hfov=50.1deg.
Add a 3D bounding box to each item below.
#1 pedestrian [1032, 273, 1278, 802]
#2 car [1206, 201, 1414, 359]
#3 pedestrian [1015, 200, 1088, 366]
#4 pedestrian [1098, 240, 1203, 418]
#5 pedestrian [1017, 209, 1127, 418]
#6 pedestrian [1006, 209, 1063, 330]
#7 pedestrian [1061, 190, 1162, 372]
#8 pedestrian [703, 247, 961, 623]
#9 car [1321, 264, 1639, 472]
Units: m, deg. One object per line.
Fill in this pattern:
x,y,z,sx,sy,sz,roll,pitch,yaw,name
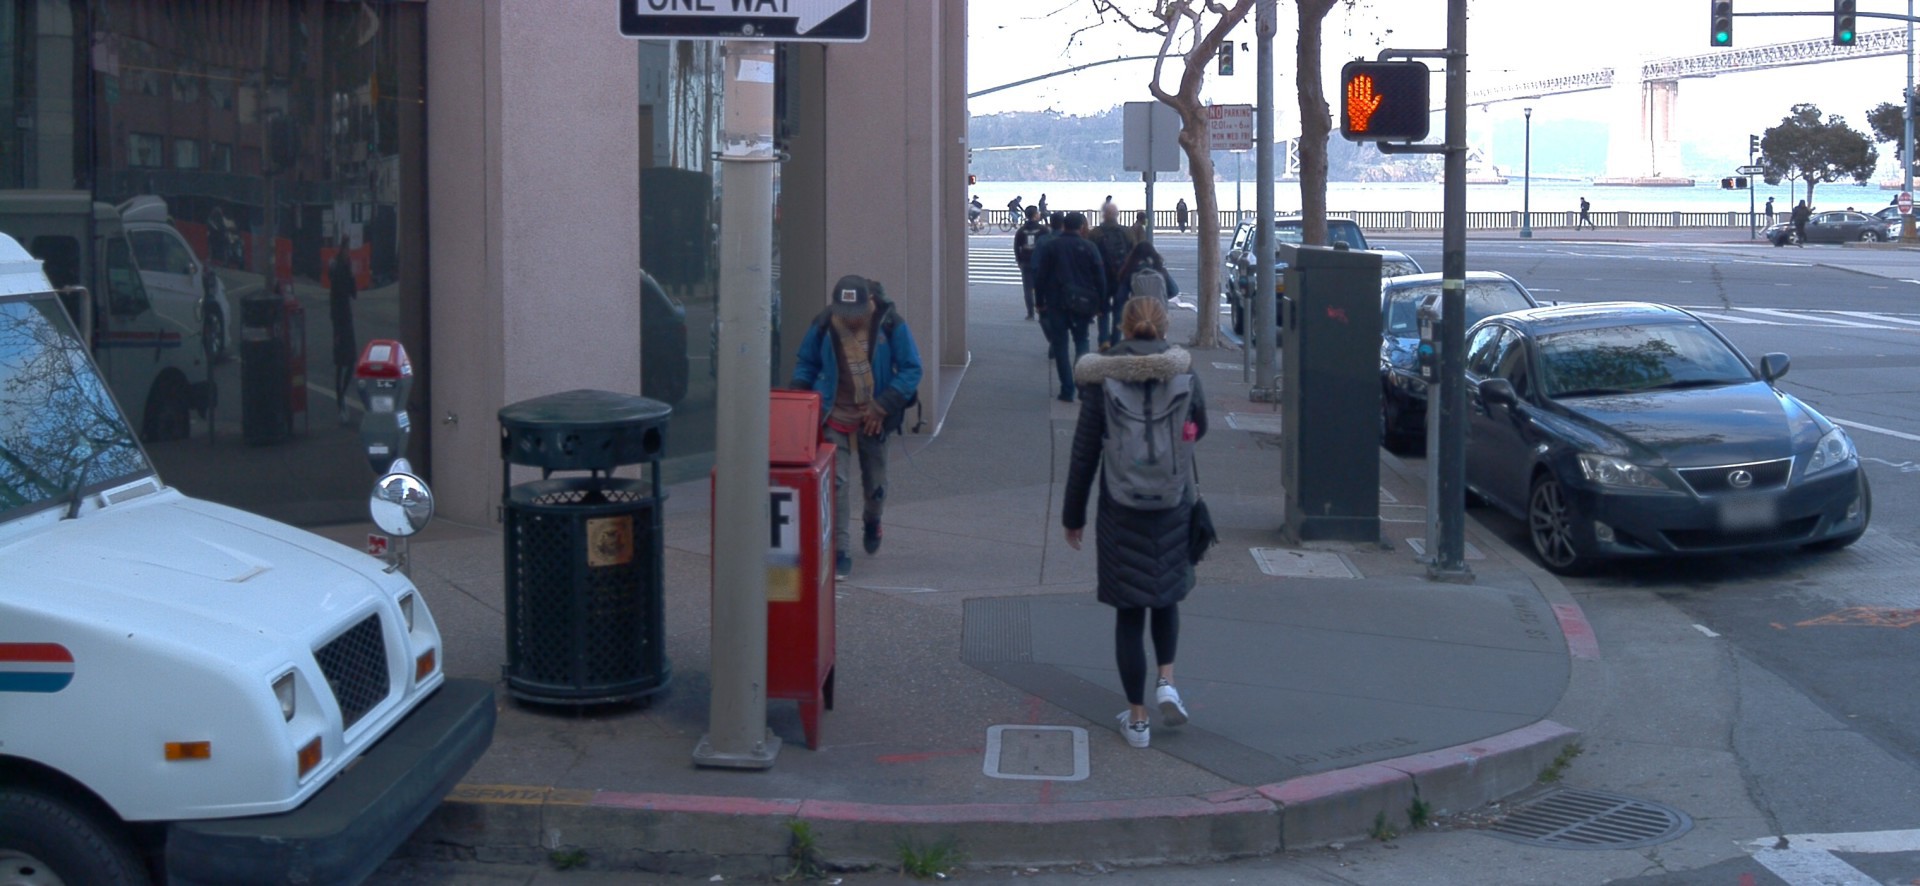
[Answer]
0.699,0.285,7.708,0.806,1.805,1.092,0,3,-1,pedestrian
5.262,-2.602,31.599,2.438,2.218,4.887,0,6,1,car
1.044,-1.869,23.714,0.733,1.865,0.947,0,3,-4,pedestrian
1.751,-1.077,19.016,0.873,1.586,1.034,0,3,0,pedestrian
1.025,-1.238,19.096,0.961,1.865,1.349,0,3,1,pedestrian
1.153,-2.709,31.923,0.841,1.855,0.774,0,2,-2,pedestrian
1.744,-1.911,23.878,1.012,2.044,1.356,0,3,-2,pedestrian
-0.612,-0.096,10.434,1.181,1.764,1.185,0,3,3,pedestrian
4.697,-0.827,19.309,2.122,1.531,4.772,0,6,4,car
